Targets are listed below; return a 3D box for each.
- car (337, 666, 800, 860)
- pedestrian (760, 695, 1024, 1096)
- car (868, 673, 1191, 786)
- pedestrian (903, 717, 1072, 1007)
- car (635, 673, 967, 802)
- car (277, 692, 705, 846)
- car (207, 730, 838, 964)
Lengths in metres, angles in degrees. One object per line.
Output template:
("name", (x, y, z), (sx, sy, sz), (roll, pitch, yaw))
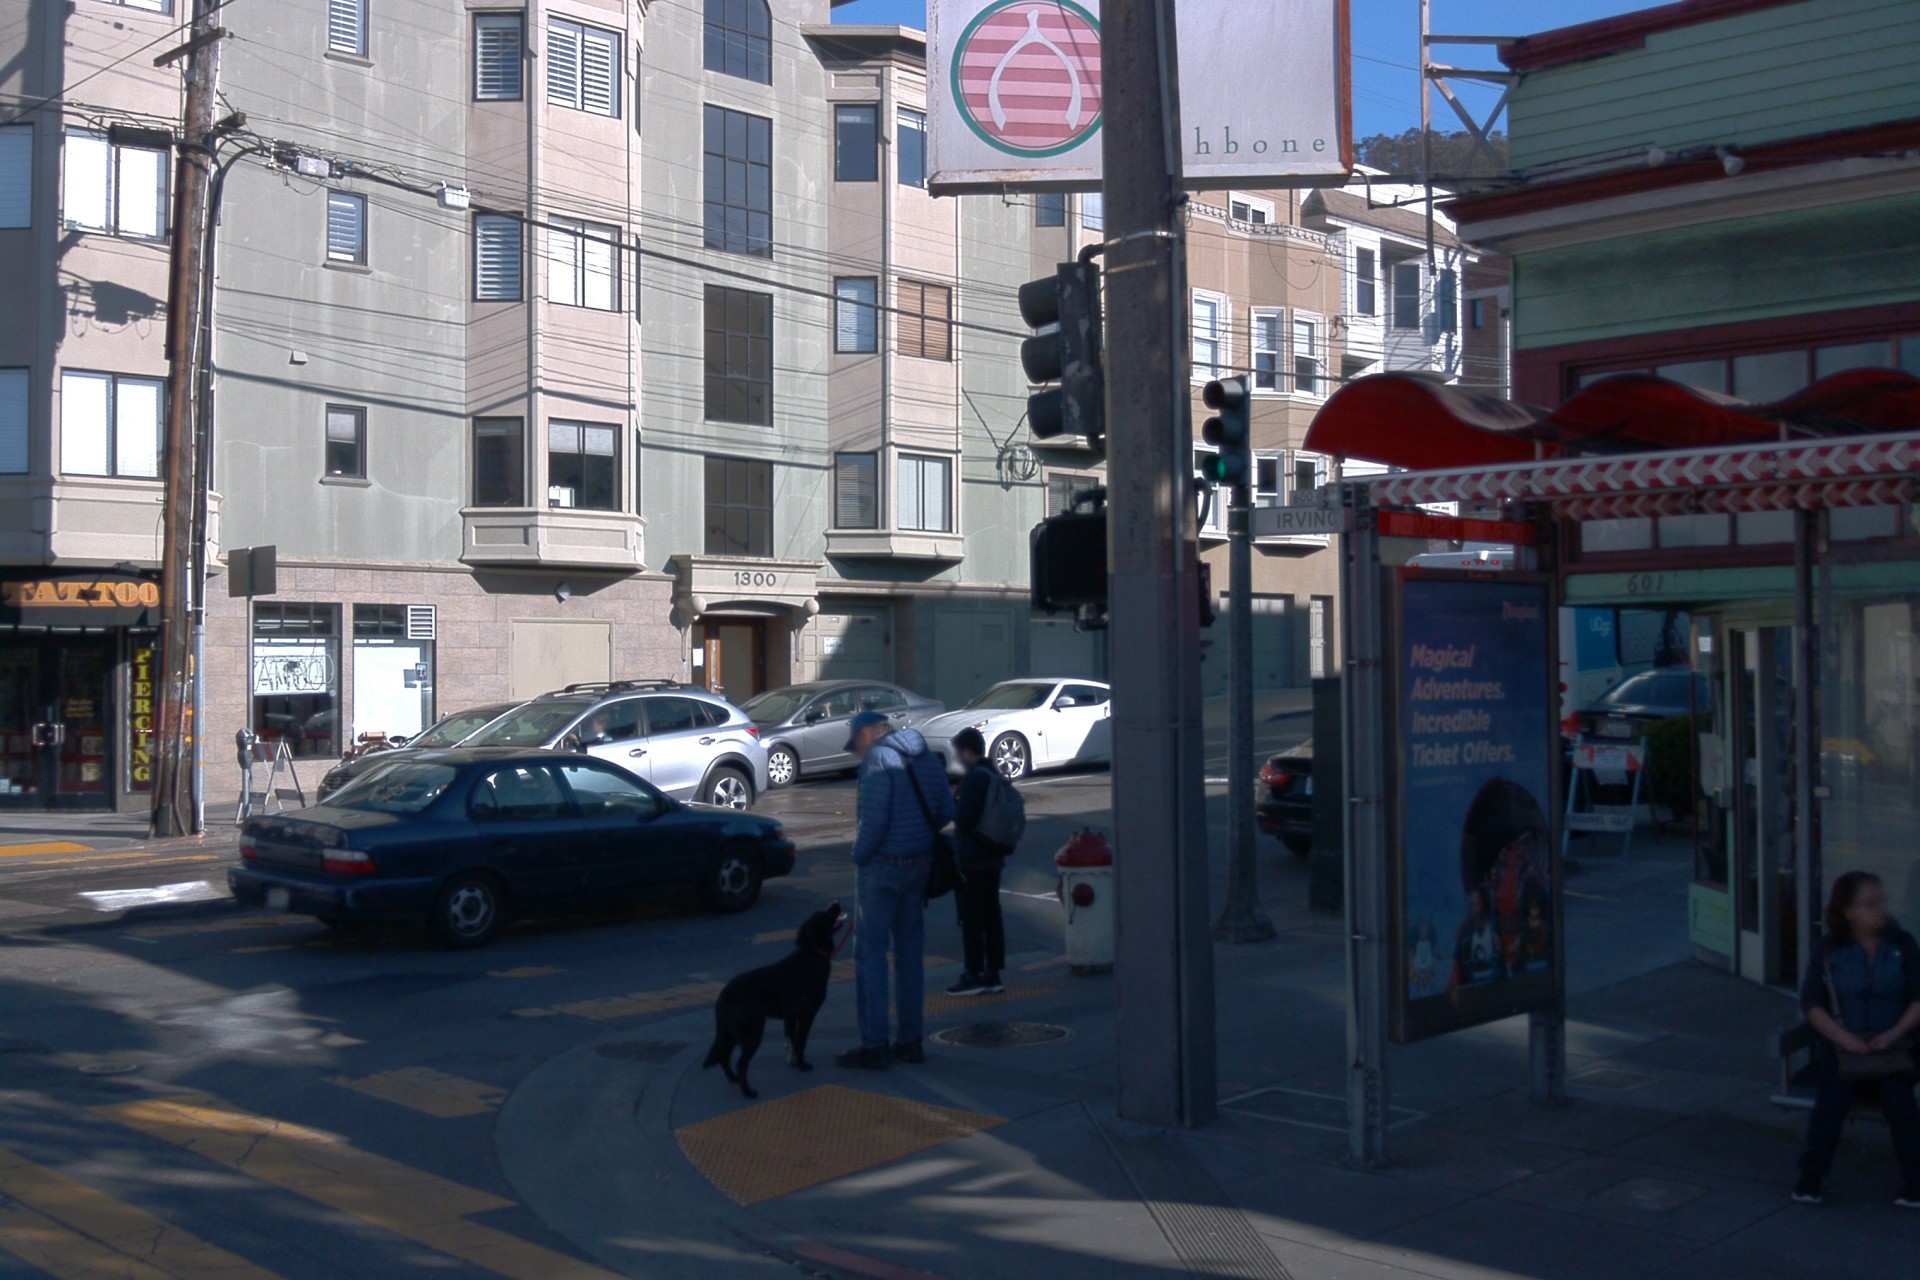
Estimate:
("car", (-3.940, 1.169, 21.686), (1.930, 1.770, 4.447), (0, 0, 41))
("pedestrian", (-0.340, 1.218, 10.511), (0.894, 1.860, 0.955), (1, 0, 44))
("car", (1.006, 1.171, 28.779), (4.248, 1.390, 2.004), (1, 0, -43))
("pedestrian", (0.168, 1.346, 13.043), (0.687, 1.700, 0.778), (0, 0, -43))
("car", (-2.215, 1.331, 30.143), (2.102, 1.670, 4.524), (0, 0, 43))
("car", (-5.777, 1.528, 26.270), (2.149, 1.660, 4.833), (0, 0, 44))
("car", (-3.204, 1.460, 16.085), (1.876, 1.380, 4.494), (0, 0, 42))
